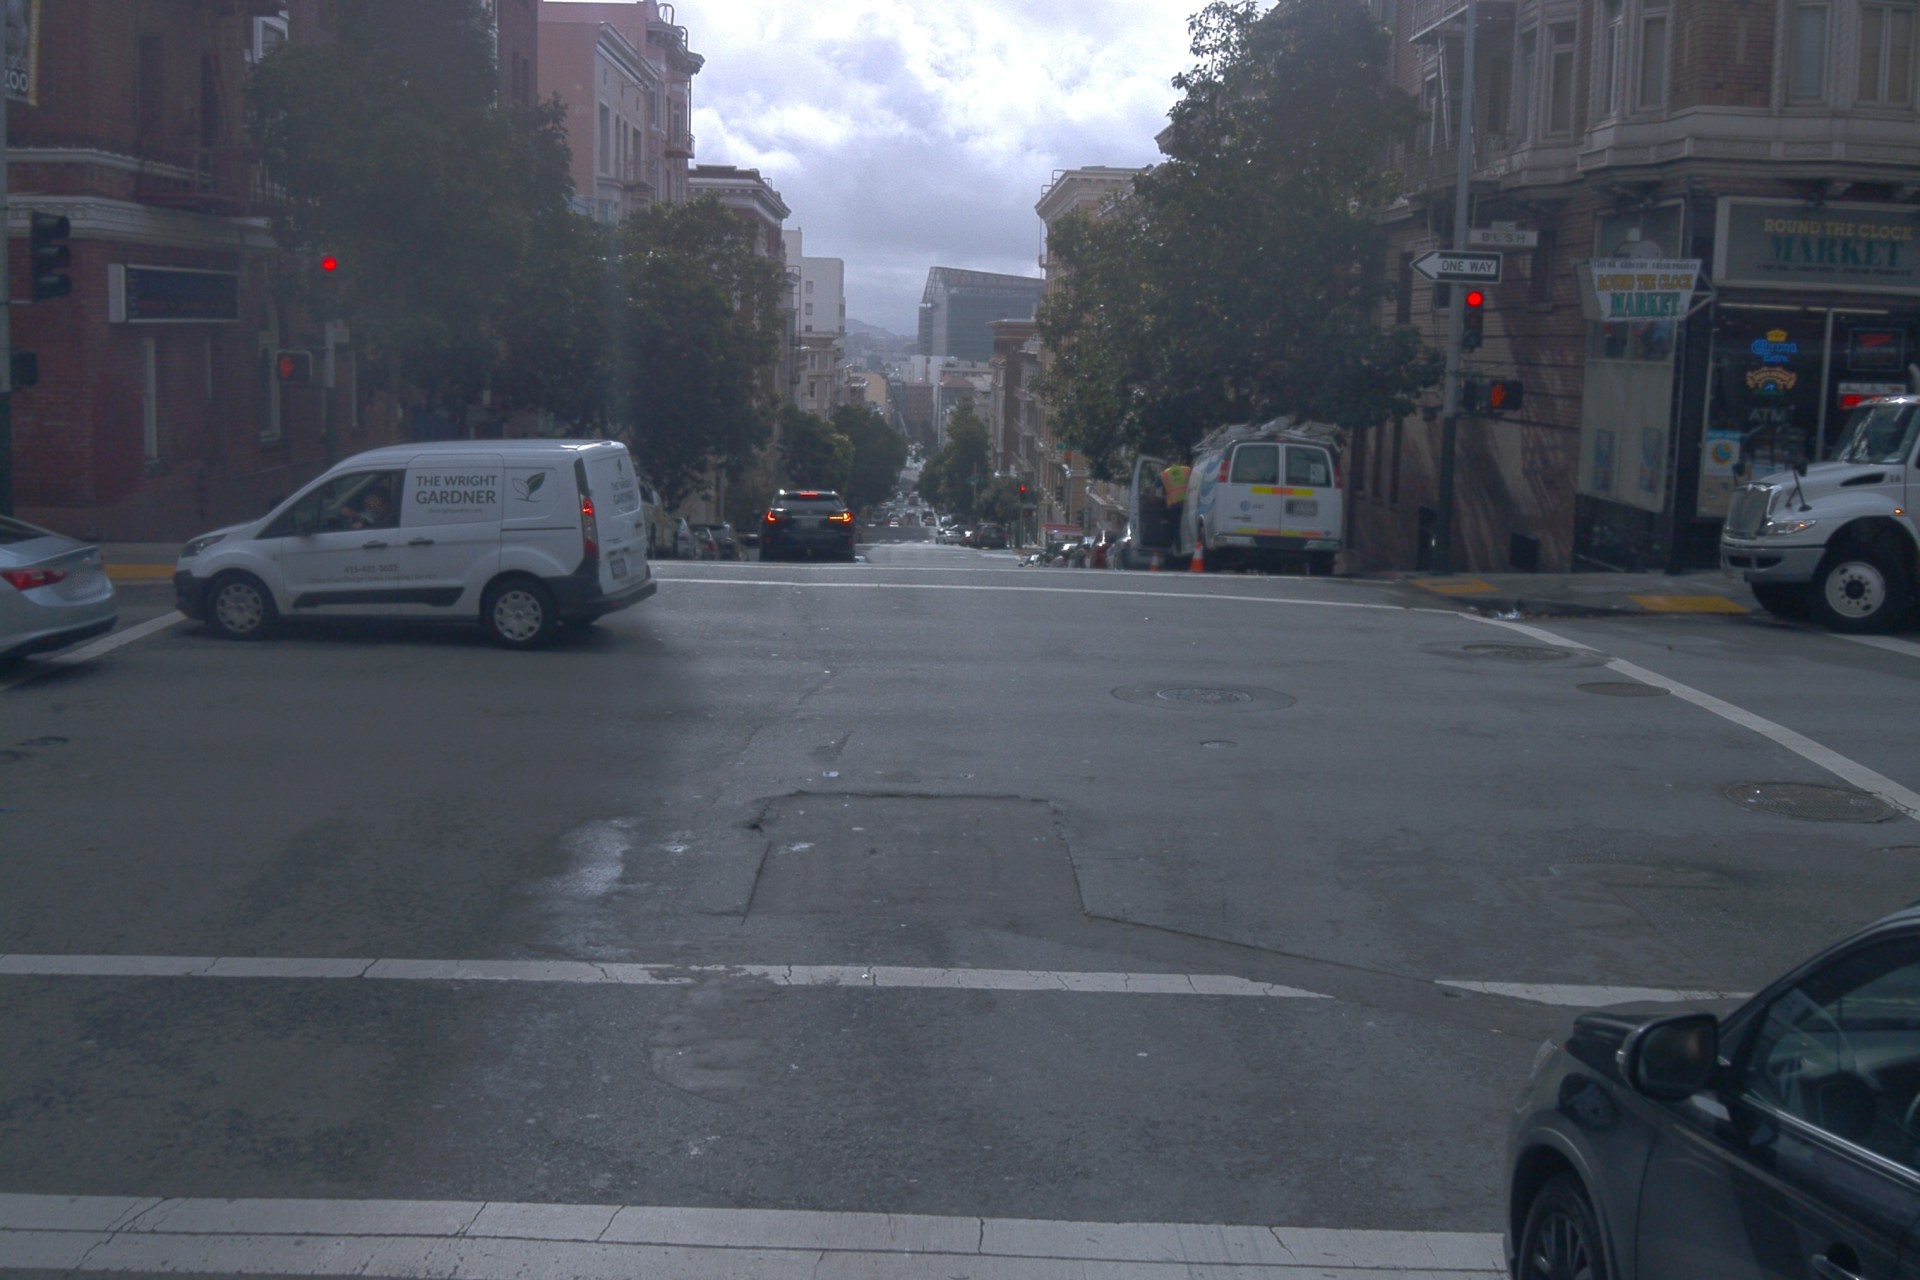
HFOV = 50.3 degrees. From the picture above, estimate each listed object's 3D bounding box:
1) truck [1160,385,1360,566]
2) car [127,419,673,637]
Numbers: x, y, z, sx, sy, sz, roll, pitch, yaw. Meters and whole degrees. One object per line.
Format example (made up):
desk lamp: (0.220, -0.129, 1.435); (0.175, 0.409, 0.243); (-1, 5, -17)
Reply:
truck: (4.568, -2.451, 31.958); (2.117, 2.450, 5.100); (1, 1, -3)
car: (-5.127, -1.015, 19.031); (4.472, 1.870, 1.942); (1, 1, 7)
